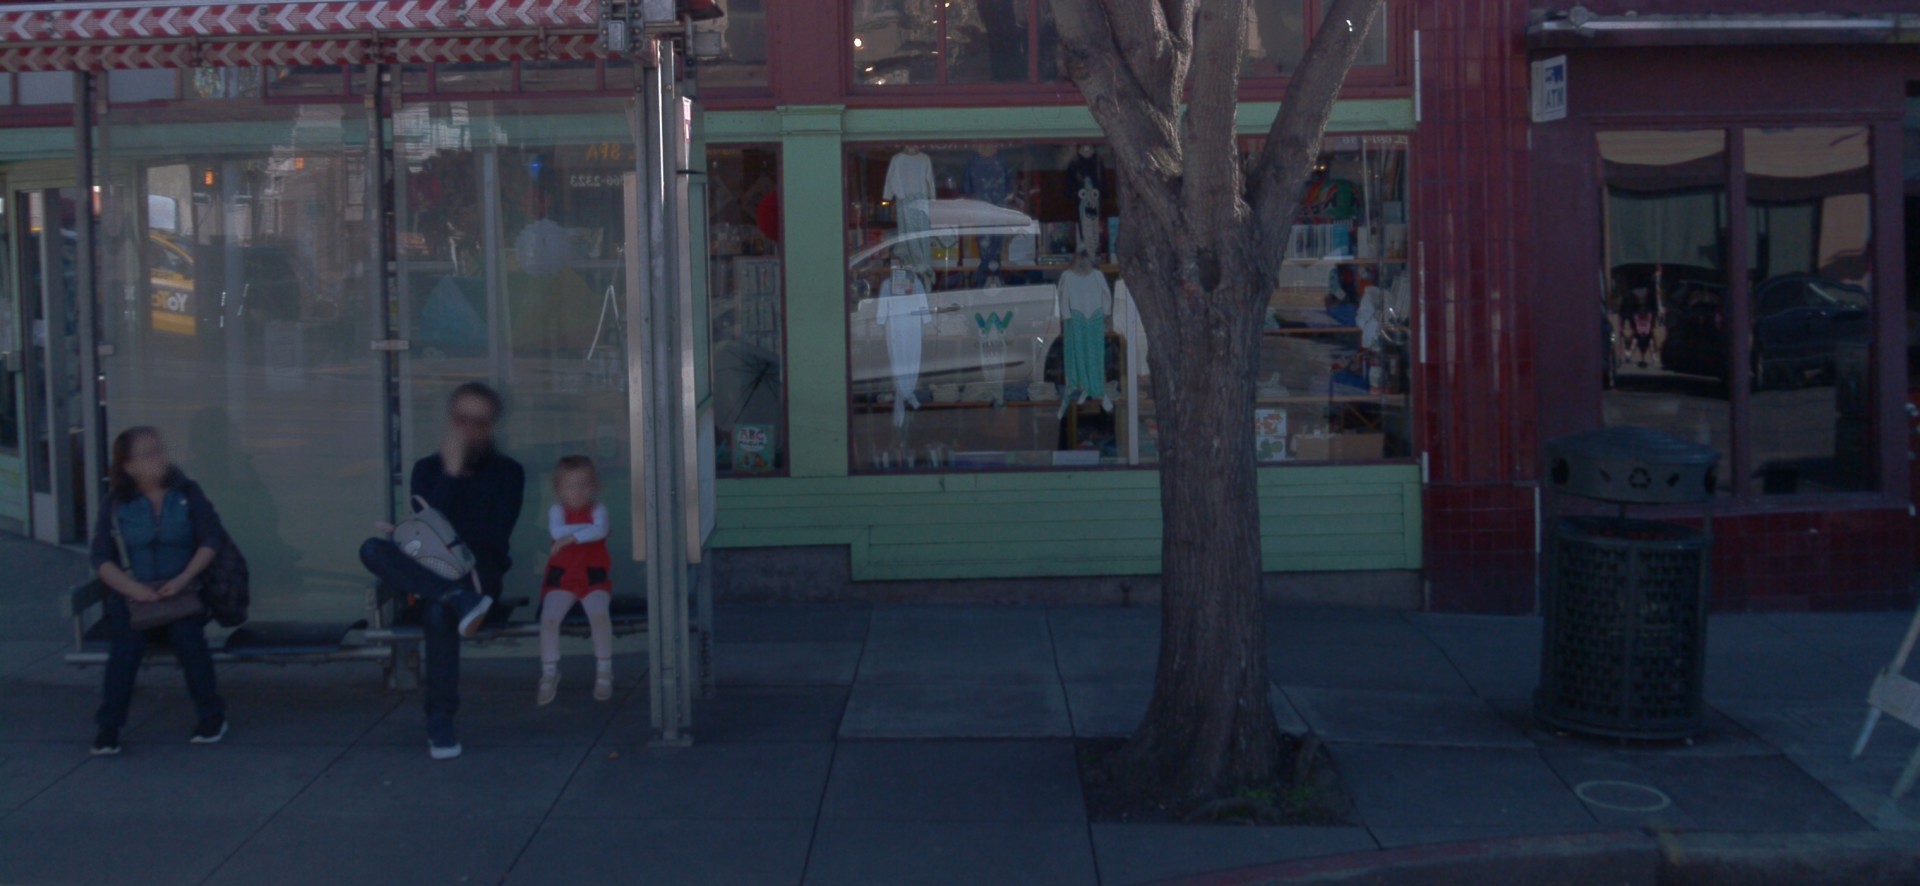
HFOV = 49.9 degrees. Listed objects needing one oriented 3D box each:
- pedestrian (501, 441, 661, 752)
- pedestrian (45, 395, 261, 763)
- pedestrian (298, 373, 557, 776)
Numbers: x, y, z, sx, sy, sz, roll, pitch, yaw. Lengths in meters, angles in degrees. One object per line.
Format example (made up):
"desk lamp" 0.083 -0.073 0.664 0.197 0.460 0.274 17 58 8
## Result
"pedestrian" -1.461 0.575 8.034 0.528 1.098 0.572 0 2 -3
"pedestrian" -3.126 0.487 8.060 0.737 1.258 0.794 -1 2 -19
"pedestrian" -2.033 0.464 7.999 0.753 1.398 0.926 0 2 0
